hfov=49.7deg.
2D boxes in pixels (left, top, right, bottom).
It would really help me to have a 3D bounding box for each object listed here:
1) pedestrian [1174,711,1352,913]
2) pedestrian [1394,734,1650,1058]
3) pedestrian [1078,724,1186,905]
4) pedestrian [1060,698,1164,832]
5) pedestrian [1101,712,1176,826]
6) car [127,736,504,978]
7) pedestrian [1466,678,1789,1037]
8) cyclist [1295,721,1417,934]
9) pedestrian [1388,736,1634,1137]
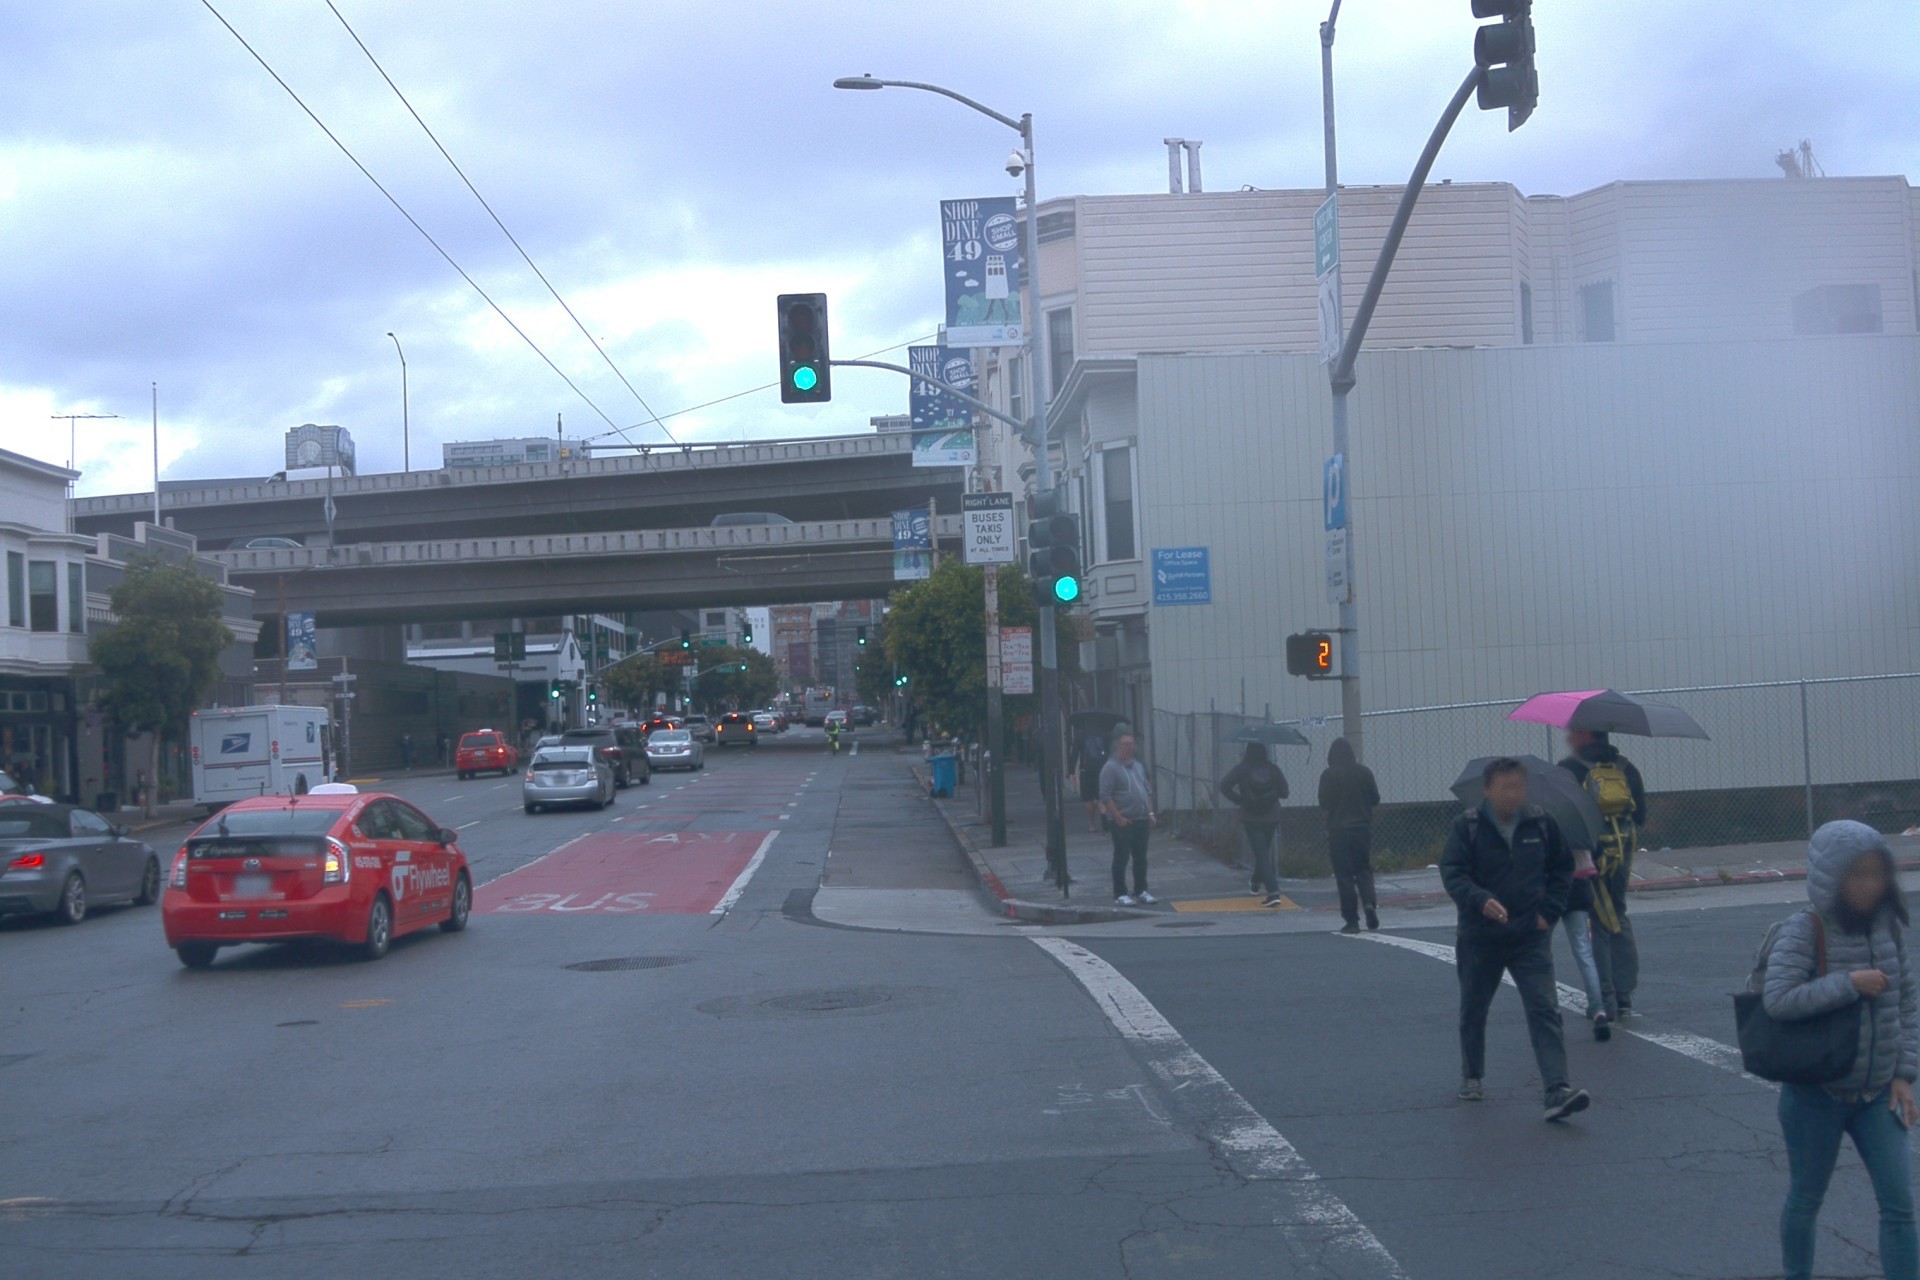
[{"bbox_3d":[3.145,1.755,21.703,1.352,1.976,1.598,0,-1,-12],"label":"pedestrian"},{"bbox_3d":[3.069,1.363,11.422,1.006,1.652,1.058,0,-1,-9],"label":"pedestrian"},{"bbox_3d":[1.815,1.820,21.895,0.843,1.837,0.755,0,-1,-34],"label":"pedestrian"},{"bbox_3d":[2.325,1.898,31.999,1.409,1.988,1.525,0,-1,-3],"label":"pedestrian"},{"bbox_3d":[2.722,1.968,31.801,0.989,1.692,1.085,0,-1,-4],"label":"pedestrian"},{"bbox_3d":[-5.917,1.929,19.686,2.072,1.890,4.541,0,-1,1],"label":"car"},{"bbox_3d":[3.848,1.204,12.111,1.367,1.952,1.401,0,-1,-4],"label":"pedestrian"},{"bbox_3d":[3.498,1.631,18.402,0.779,1.800,1.139,0,-1,-5],"label":"cyclist"},{"bbox_3d":[2.470,1.294,9.406,0.810,1.680,1.024,0,-1,-2],"label":"pedestrian"}]
